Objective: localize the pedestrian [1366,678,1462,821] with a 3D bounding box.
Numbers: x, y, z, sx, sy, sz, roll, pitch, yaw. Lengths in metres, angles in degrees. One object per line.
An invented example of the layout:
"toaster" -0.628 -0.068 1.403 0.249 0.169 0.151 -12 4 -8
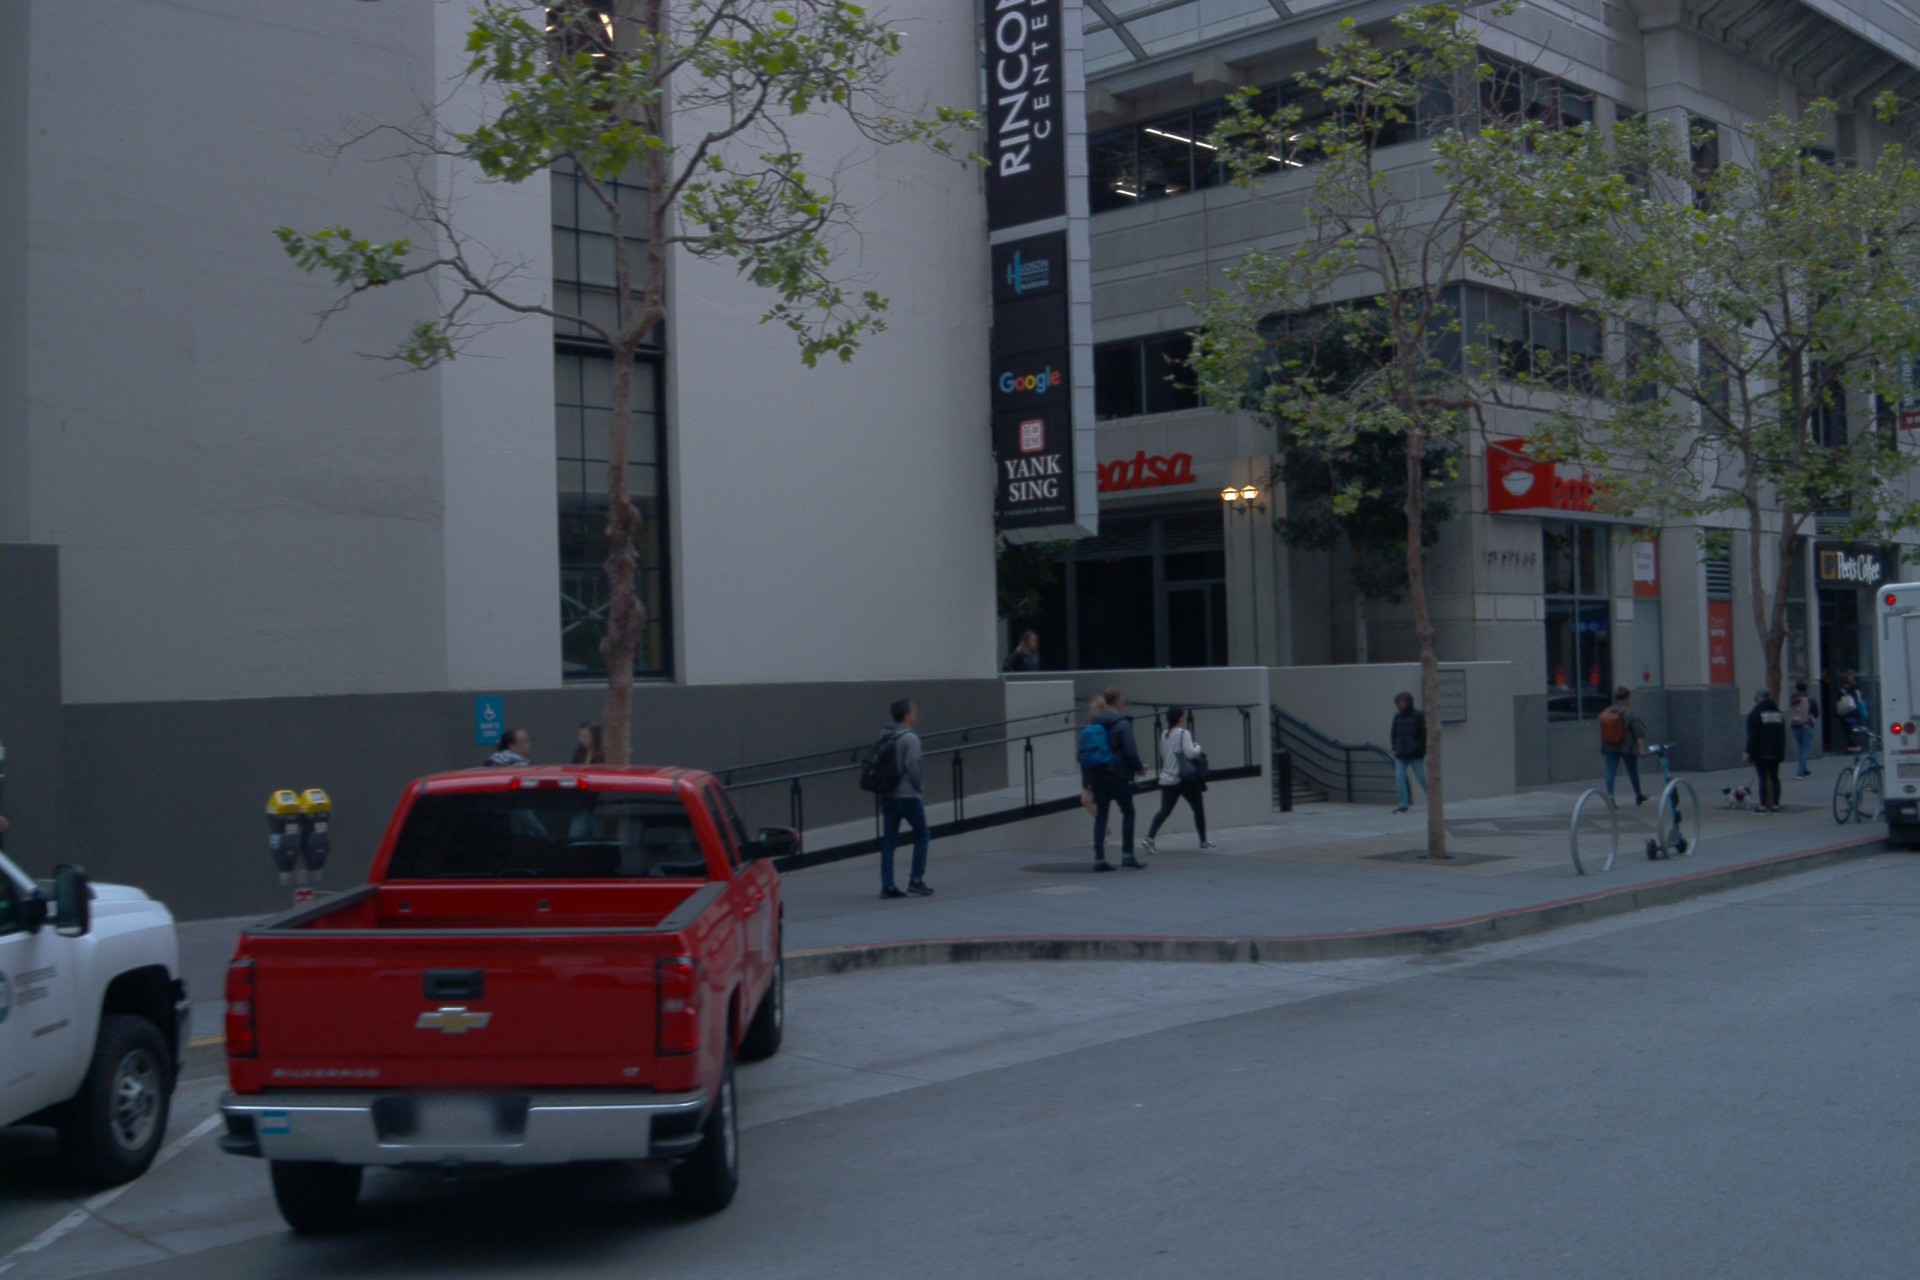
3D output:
"pedestrian" 6.036 1.431 27.411 0.800 1.810 1.068 1 1 44

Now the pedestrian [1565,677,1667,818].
"pedestrian" 8.664 1.400 27.254 1.017 1.774 0.922 -1 1 -45

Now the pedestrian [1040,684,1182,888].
"pedestrian" 1.466 1.383 20.001 0.917 1.860 1.056 1 1 43

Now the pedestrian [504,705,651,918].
"pedestrian" -3.430 1.509 18.524 0.906 1.790 0.923 0 1 30

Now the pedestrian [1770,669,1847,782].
"pedestrian" 13.455 1.334 32.716 1.004 1.720 0.766 -1 1 -43

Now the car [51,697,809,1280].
"car" -2.140 1.487 10.474 2.444 2.150 5.880 0 1 -1

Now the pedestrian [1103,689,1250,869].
"pedestrian" 2.296 1.441 21.878 1.198 1.780 1.017 -1 1 -43

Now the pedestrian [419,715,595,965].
"pedestrian" -3.472 1.495 15.823 1.000 1.774 0.891 -1 1 -41

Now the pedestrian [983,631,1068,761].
"pedestrian" 0.931 0.783 29.431 0.833 1.800 0.892 -1 1 -42

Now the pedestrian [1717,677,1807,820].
"pedestrian" 10.186 1.357 26.224 0.758 1.750 0.755 0 1 -22

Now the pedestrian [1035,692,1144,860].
"pedestrian" 1.428 1.478 22.744 0.794 1.760 0.904 1 1 44

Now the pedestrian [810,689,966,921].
"pedestrian" -0.624 1.400 18.004 1.037 1.903 0.873 -1 1 -42
